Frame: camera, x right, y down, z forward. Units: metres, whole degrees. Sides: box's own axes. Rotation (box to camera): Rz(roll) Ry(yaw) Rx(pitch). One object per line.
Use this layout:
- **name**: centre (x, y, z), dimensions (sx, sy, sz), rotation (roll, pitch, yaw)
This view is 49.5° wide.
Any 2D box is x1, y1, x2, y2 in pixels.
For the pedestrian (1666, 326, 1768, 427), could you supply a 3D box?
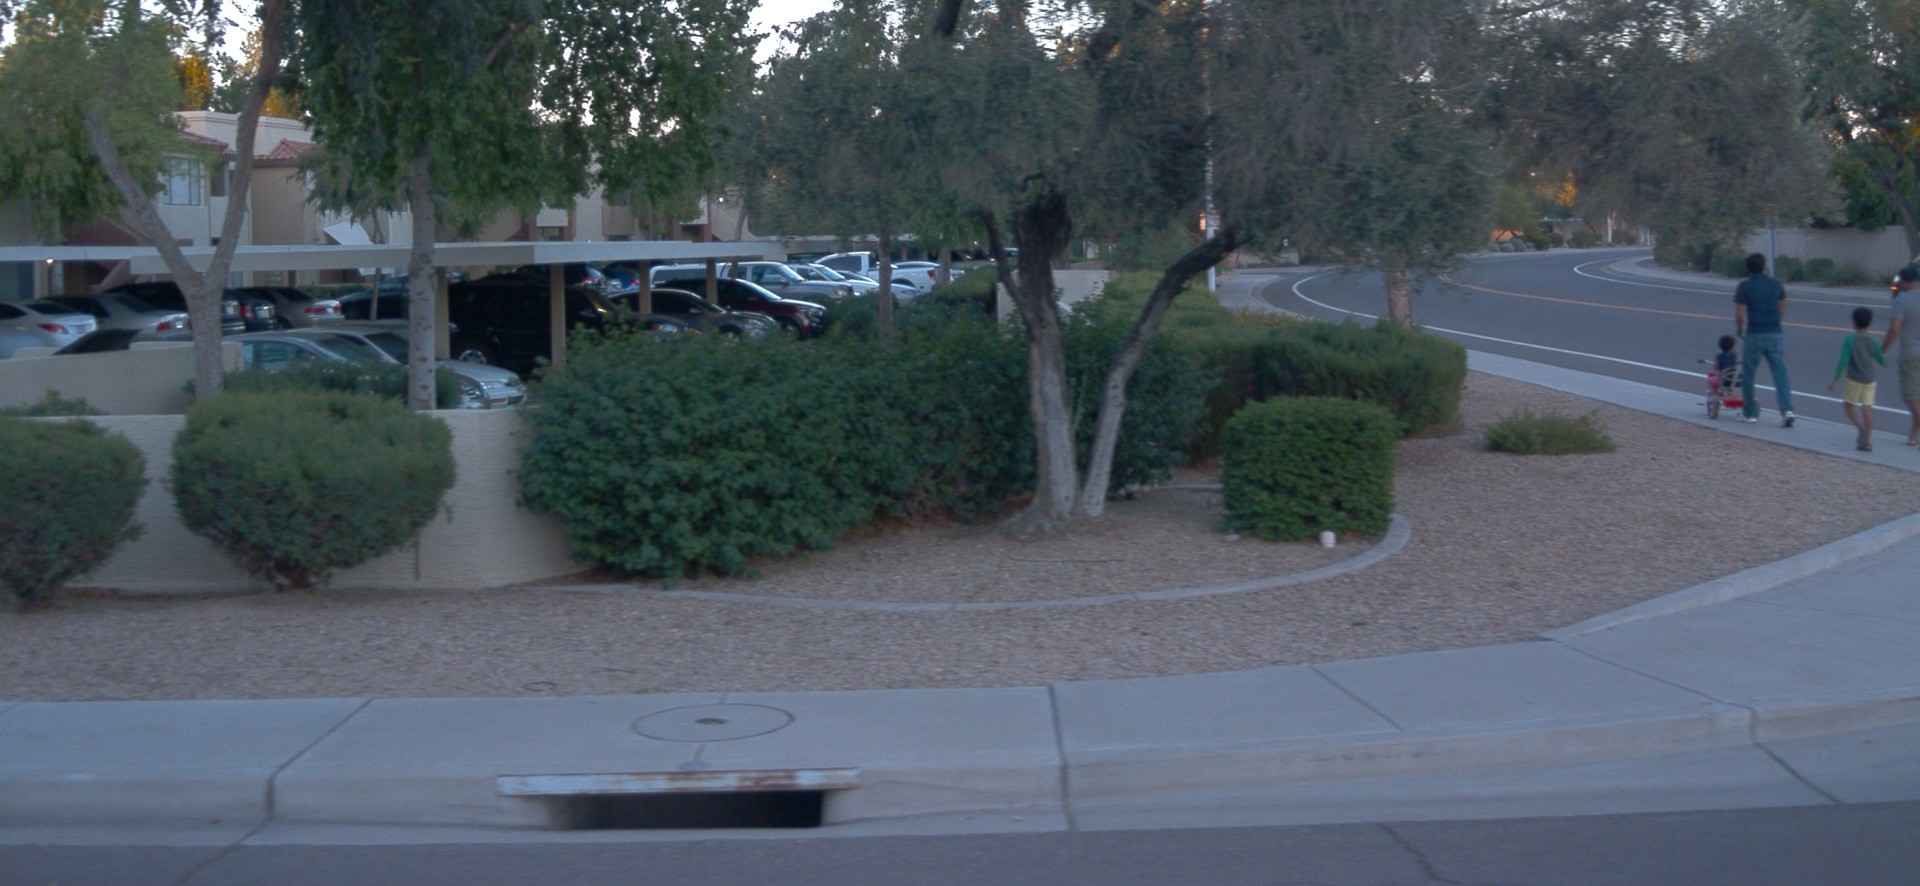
- **pedestrian**: centre (8.065, -0.723, 22.228), dimensions (0.628, 0.977, 1.071), rotation (-1, 4, -6)

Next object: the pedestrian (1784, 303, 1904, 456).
- **pedestrian**: centre (7.875, -0.584, 18.585), dimensions (0.740, 1.298, 0.752), rotation (0, 2, -1)

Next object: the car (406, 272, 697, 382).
- **car**: centre (-7.444, -2.152, 38.263), dimensions (4.818, 1.895, 2.161), rotation (0, 4, 4)

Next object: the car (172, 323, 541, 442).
- **car**: centre (-8.583, -0.901, 29.802), dimensions (4.691, 1.505, 1.902), rotation (1, 4, 9)

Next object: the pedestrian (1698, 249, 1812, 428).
- **pedestrian**: centre (8.164, -1.092, 21.420), dimensions (0.773, 1.777, 0.935), rotation (0, 2, -4)

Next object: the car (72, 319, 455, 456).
- **car**: centre (-8.963, -0.751, 27.017), dimensions (4.298, 1.614, 1.852), rotation (0, 4, 5)
